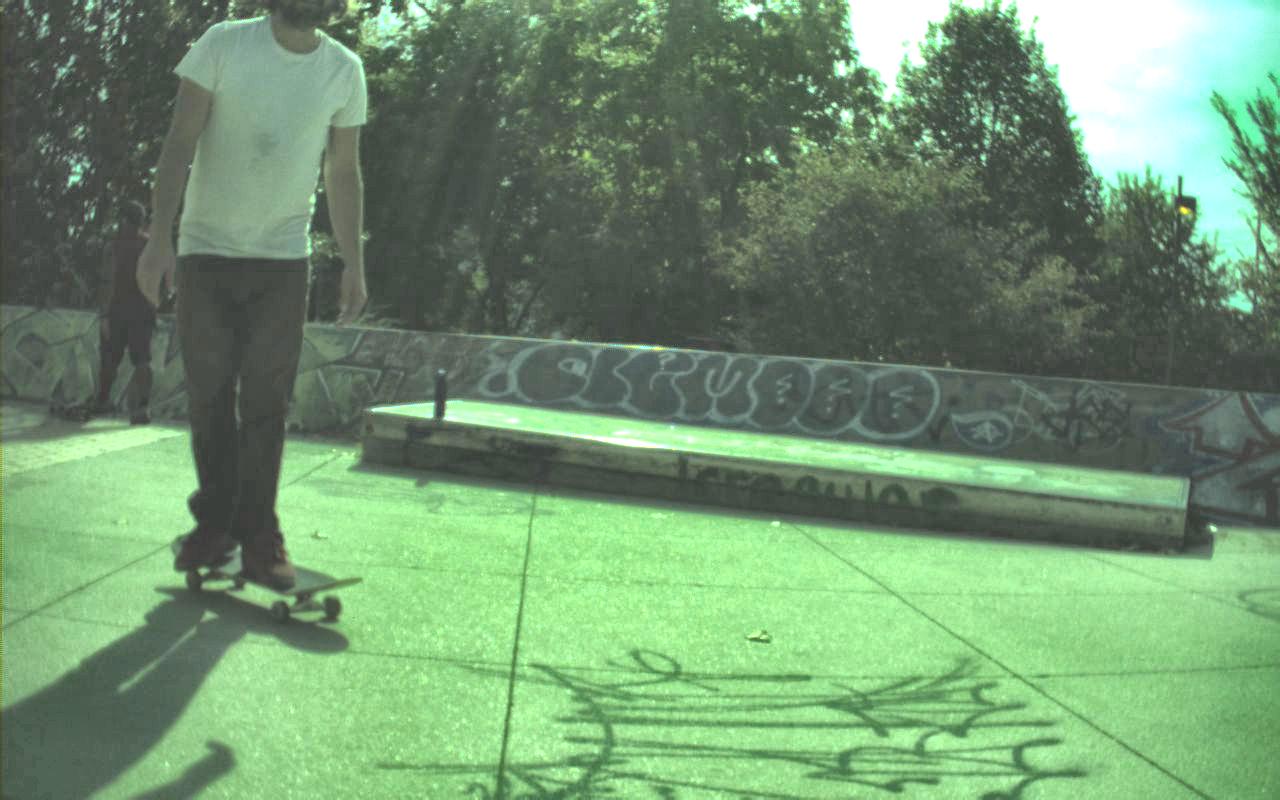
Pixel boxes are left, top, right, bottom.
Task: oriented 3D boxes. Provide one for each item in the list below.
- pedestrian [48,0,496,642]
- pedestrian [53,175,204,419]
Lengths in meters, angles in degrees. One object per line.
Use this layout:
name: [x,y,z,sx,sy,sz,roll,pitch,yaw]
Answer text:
pedestrian: [-1.008,-0.378,3.131,0.896,1.775,0.841,1,0,37]
pedestrian: [-3.793,-0.714,8.578,0.847,1.693,0.810,1,0,31]
